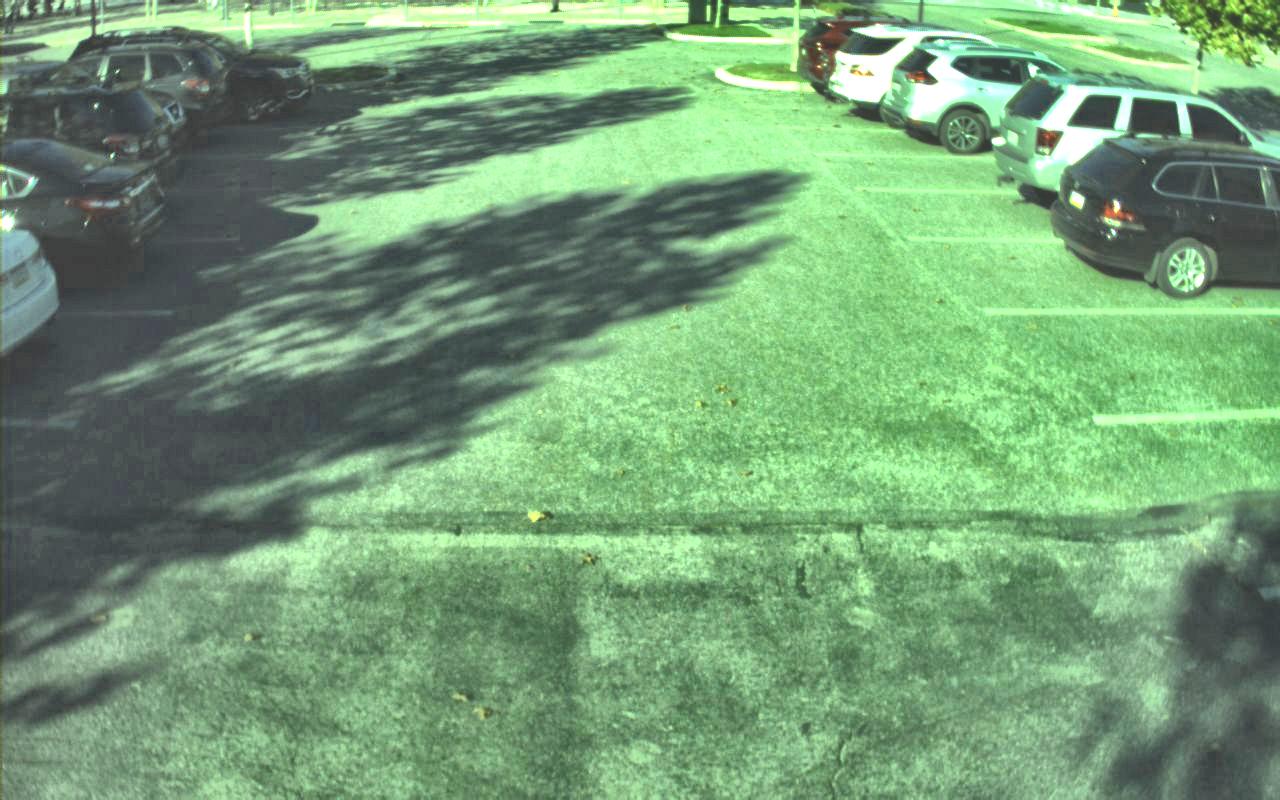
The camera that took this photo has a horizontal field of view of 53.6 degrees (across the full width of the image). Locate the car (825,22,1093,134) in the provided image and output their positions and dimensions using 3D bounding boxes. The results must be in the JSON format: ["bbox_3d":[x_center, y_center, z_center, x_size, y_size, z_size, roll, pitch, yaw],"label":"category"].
[{"bbox_3d":[5.727,-5.806,21.671,4.573,1.824,2.020,-2,16,-3],"label":"car"}]

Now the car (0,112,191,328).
[{"bbox_3d":[-6.766,-1.801,11.087,4.338,1.572,1.925,-3,16,-6],"label":"car"}]

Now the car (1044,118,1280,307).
[{"bbox_3d":[6.639,-2.007,12.057,4.475,1.611,1.960,-2,16,-5],"label":"car"}]

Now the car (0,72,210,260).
[{"bbox_3d":[-7.489,-2.841,13.520,4.408,1.682,1.976,-3,16,-7],"label":"car"}]

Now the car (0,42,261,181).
[{"bbox_3d":[-8.402,-4.663,18.476,4.470,1.707,1.994,-4,16,-9],"label":"car"}]

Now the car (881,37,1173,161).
[{"bbox_3d":[6.268,-4.883,19.274,4.509,1.751,1.989,-2,16,-2],"label":"car"}]

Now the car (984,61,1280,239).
[{"bbox_3d":[6.728,-3.123,14.433,4.637,1.867,2.036,-2,16,-2],"label":"car"}]

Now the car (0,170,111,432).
[{"bbox_3d":[-6.653,-0.793,8.691,4.329,1.555,1.917,-2,16,-3],"label":"car"}]

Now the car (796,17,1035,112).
[{"bbox_3d":[5.534,-6.757,24.351,4.507,1.769,2.002,-3,16,-6],"label":"car"}]

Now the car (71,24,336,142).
[{"bbox_3d":[-8.027,-5.751,21.258,4.657,1.705,2.031,1,16,8],"label":"car"}]
